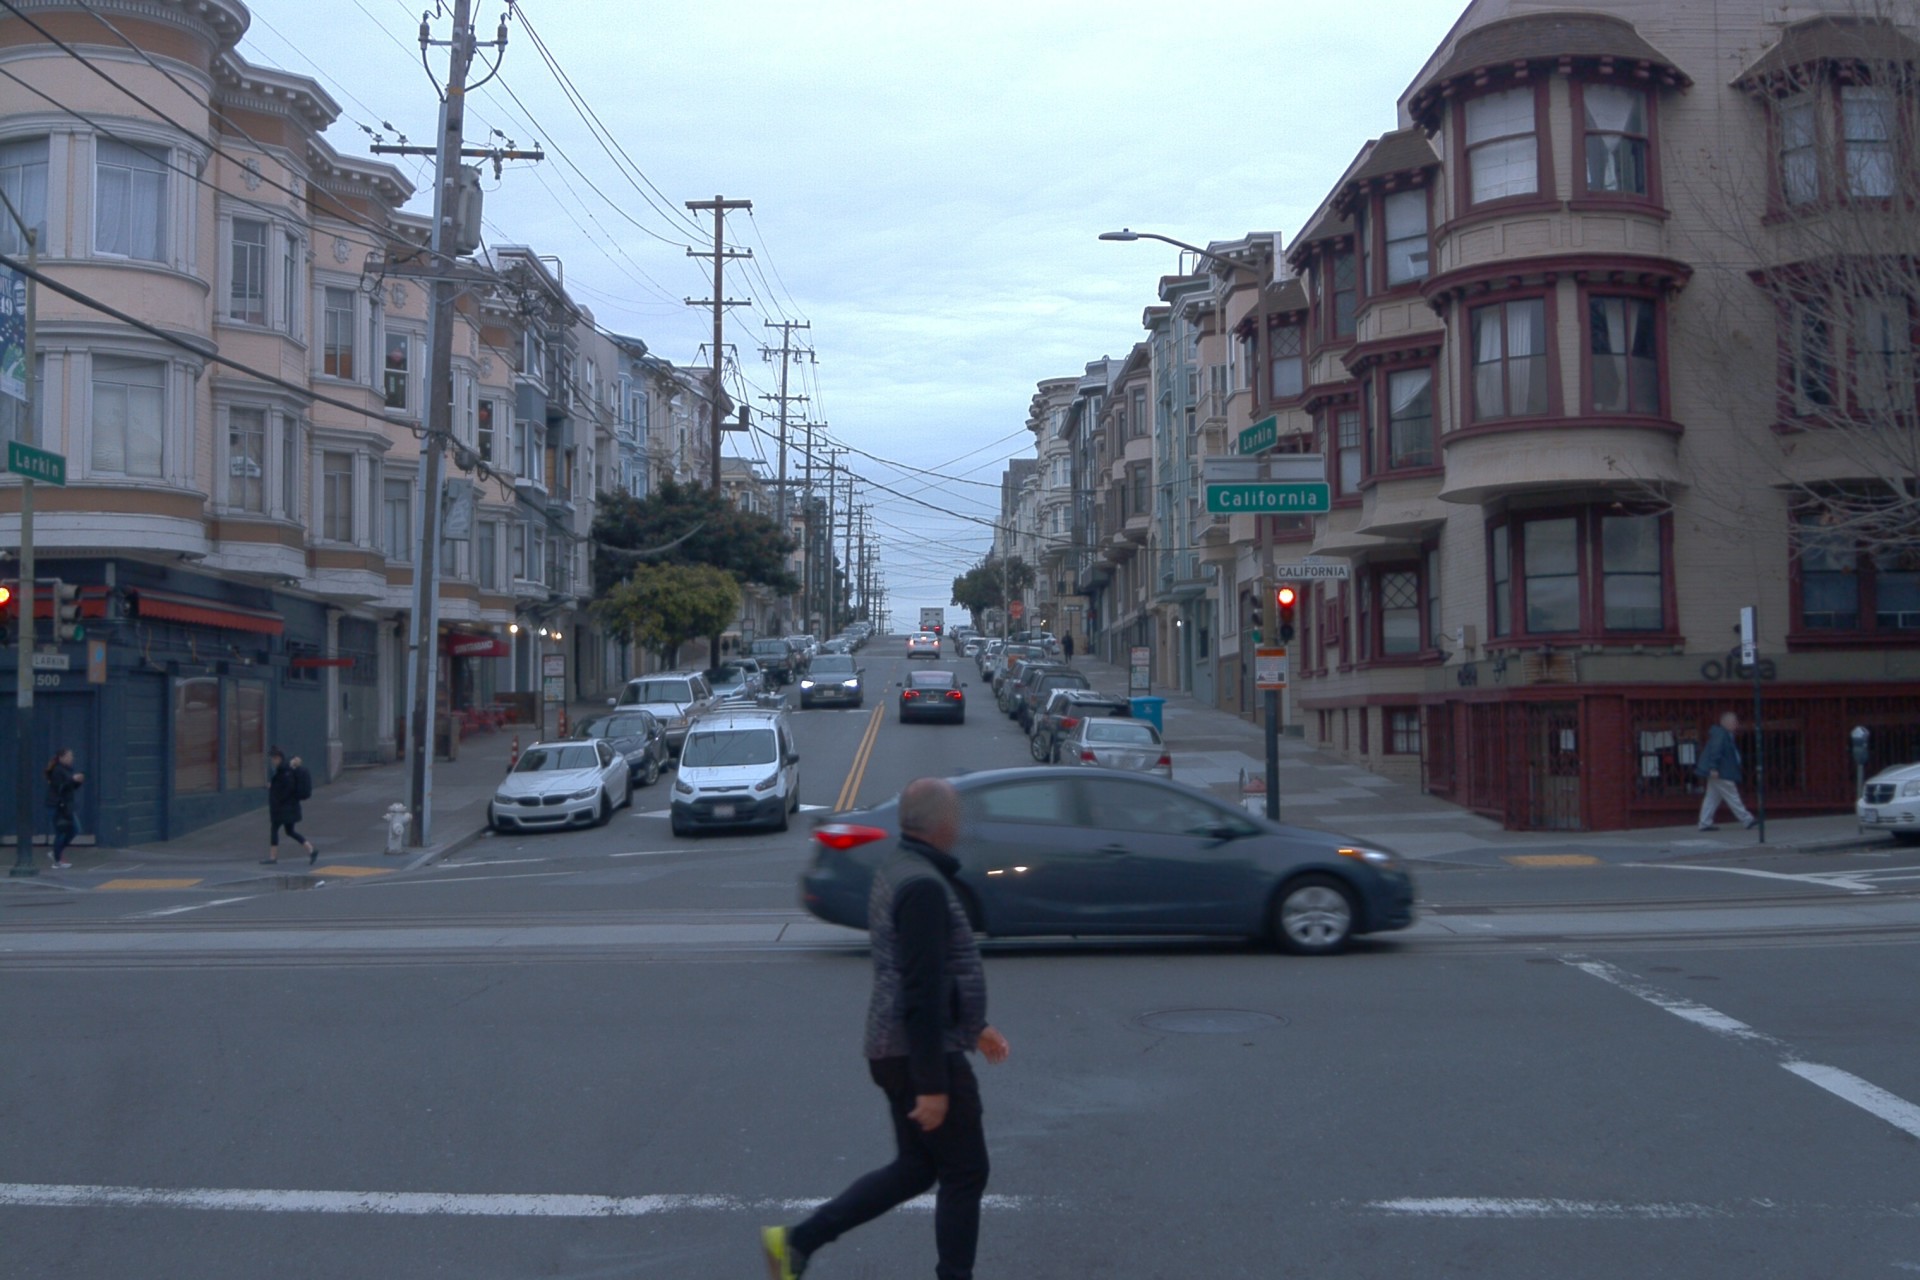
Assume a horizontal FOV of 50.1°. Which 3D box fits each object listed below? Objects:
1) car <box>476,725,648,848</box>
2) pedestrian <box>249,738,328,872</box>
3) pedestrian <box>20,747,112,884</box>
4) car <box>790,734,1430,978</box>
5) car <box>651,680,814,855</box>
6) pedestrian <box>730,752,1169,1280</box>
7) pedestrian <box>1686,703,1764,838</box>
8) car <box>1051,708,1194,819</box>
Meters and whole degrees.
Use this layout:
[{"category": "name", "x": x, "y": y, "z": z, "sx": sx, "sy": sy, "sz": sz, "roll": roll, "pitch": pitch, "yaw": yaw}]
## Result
[{"category": "car", "x": -6.813, "y": 2.477, "z": 35.707, "sx": 2.150, "sy": 1.707, "sz": 4.680, "roll": 0, "pitch": 1, "yaw": -1}, {"category": "pedestrian", "x": -9.544, "y": 2.337, "z": 29.239, "sx": 0.943, "sy": 1.820, "sz": 0.723, "roll": 0, "pitch": 1, "yaw": -8}, {"category": "pedestrian", "x": -12.276, "y": 2.403, "z": 28.262, "sx": 0.941, "sy": 1.800, "sz": 0.776, "roll": 0, "pitch": 1, "yaw": -5}, {"category": "car", "x": 1.062, "y": 1.599, "z": 15.811, "sx": 4.595, "sy": 1.600, "sz": 2.072, "roll": 0, "pitch": 1, "yaw": -1}, {"category": "car", "x": -3.621, "y": 1.979, "z": 33.587, "sx": 2.196, "sy": 2.490, "sz": 4.690, "roll": 0, "pitch": 1, "yaw": -1}, {"category": "pedestrian", "x": -0.062, "y": 1.239, "z": 6.315, "sx": 1.248, "sy": 1.716, "sz": 0.879, "roll": 0, "pitch": 1, "yaw": -5}, {"category": "pedestrian", "x": 10.842, "y": 1.833, "z": 29.184, "sx": 0.909, "sy": 1.830, "sz": 0.913, "roll": 0, "pitch": 1, "yaw": 12}, {"category": "car", "x": 2.936, "y": 2.236, "z": 38.183, "sx": 2.108, "sy": 1.700, "sz": 4.470, "roll": 0, "pitch": 1, "yaw": -2}]
